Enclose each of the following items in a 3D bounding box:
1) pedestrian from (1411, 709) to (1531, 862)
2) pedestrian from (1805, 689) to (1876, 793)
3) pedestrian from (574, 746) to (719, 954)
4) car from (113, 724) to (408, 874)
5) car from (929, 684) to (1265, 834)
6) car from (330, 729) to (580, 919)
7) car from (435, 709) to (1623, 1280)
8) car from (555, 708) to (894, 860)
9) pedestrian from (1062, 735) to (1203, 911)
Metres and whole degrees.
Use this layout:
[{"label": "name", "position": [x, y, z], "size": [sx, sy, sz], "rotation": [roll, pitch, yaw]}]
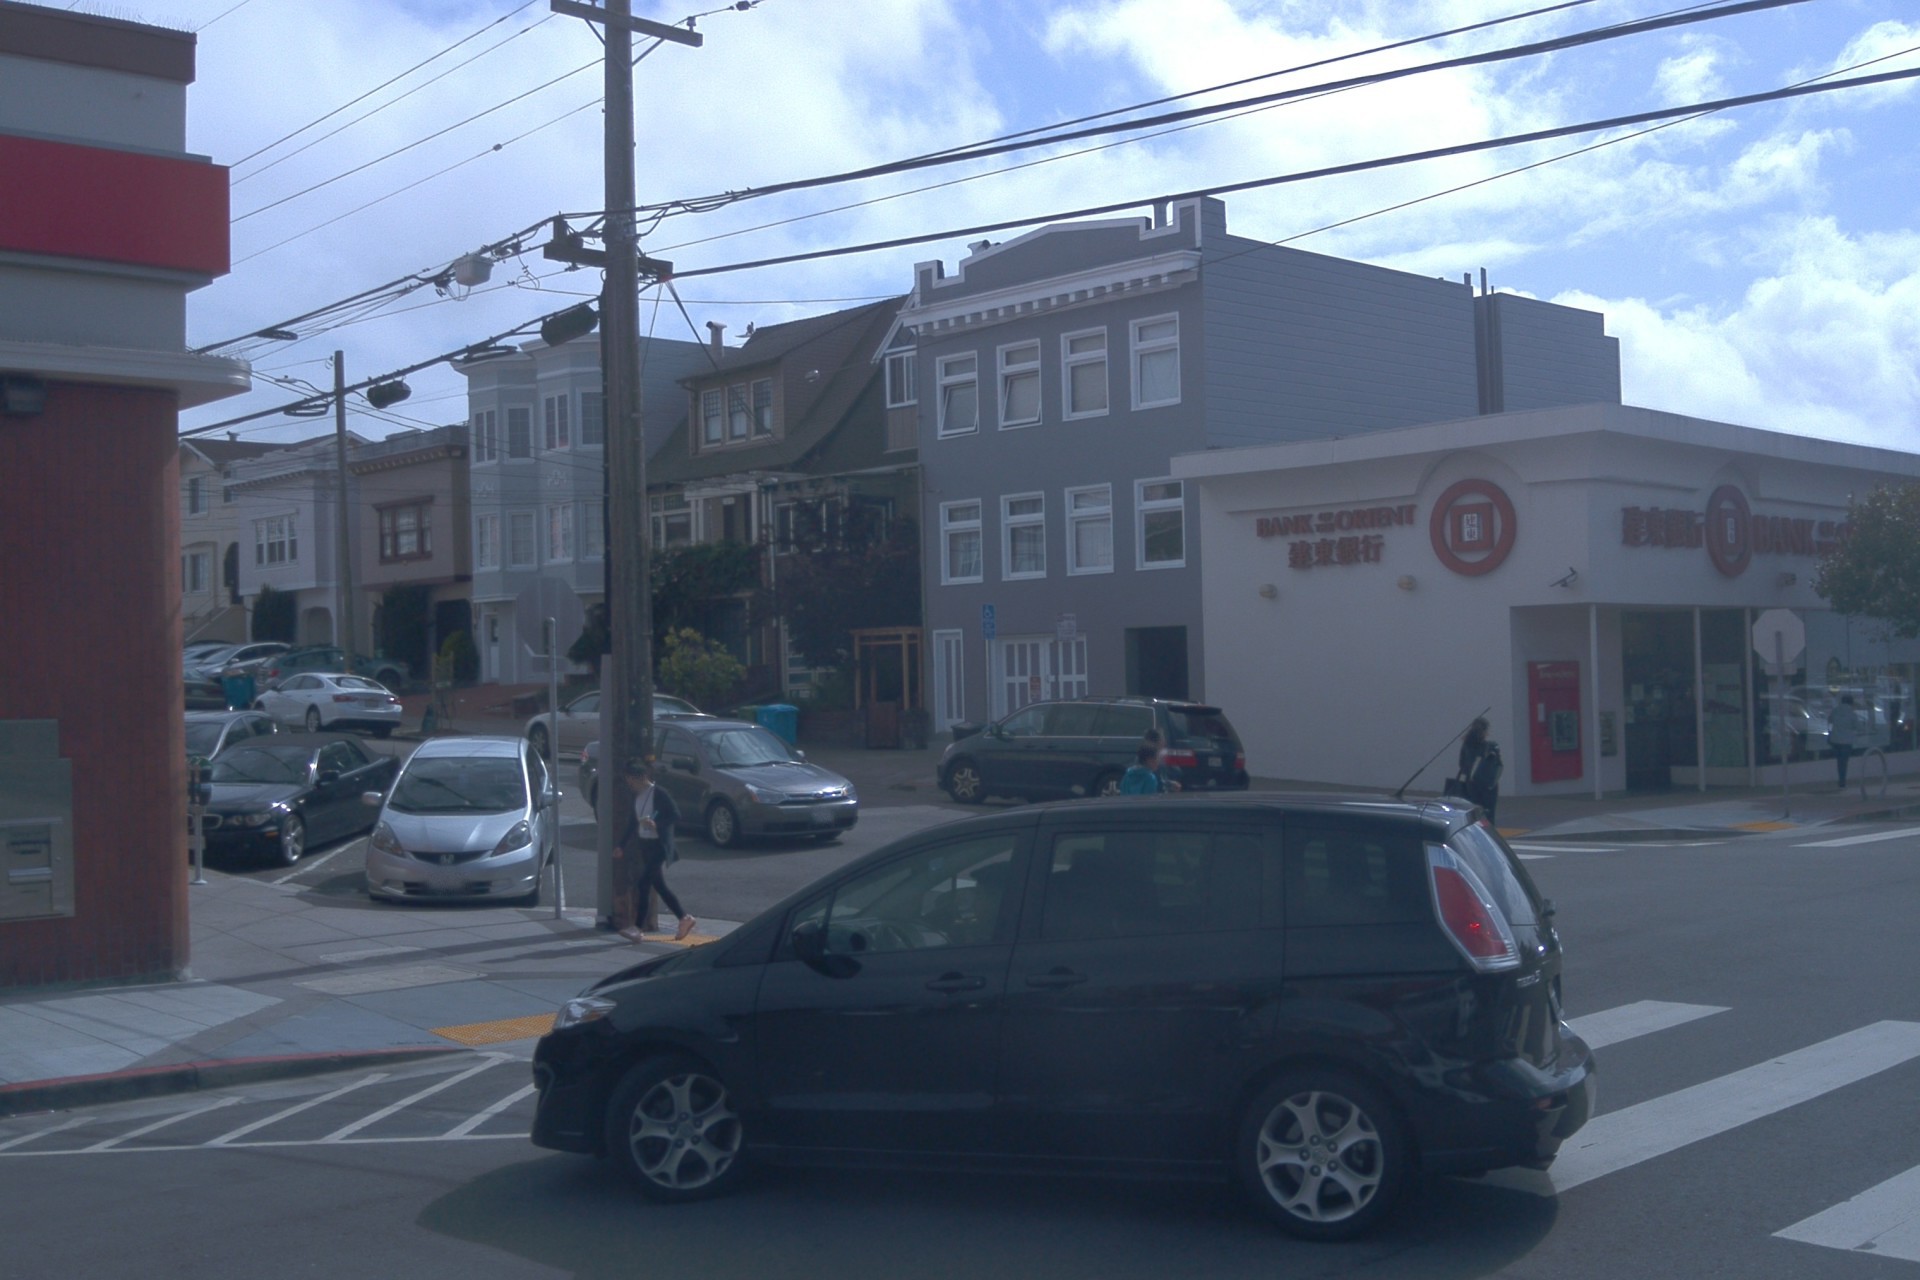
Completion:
[{"label": "pedestrian", "position": [5.824, 1.636, 23.708], "size": [0.985, 1.653, 0.948], "rotation": [0, 0, 43]}, {"label": "pedestrian", "position": [14.456, 1.640, 34.148], "size": [0.780, 1.643, 0.943], "rotation": [0, 0, 45]}, {"label": "pedestrian", "position": [-2.774, 1.828, 18.427], "size": [0.763, 1.722, 1.014], "rotation": [0, 0, 44]}, {"label": "car", "position": [-8.311, 1.844, 25.139], "size": [1.823, 1.481, 4.202], "rotation": [0, 0, 5]}, {"label": "car", "position": [1.952, 1.677, 30.796], "size": [2.133, 1.937, 4.769], "rotation": [0, 0, -44]}, {"label": "car", "position": [-5.252, 1.862, 22.201], "size": [2.094, 1.641, 4.188], "rotation": [0, 0, -7]}, {"label": "car", "position": [0.384, 1.330, 8.721], "size": [4.535, 1.972, 2.113], "rotation": [0, 0, 18]}, {"label": "car", "position": [-3.041, 1.730, 26.200], "size": [2.068, 1.587, 4.401], "rotation": [0, 0, -42]}, {"label": "pedestrian", "position": [1.616, 1.676, 19.393], "size": [1.131, 1.532, 0.720], "rotation": [0, 0, -39]}]
